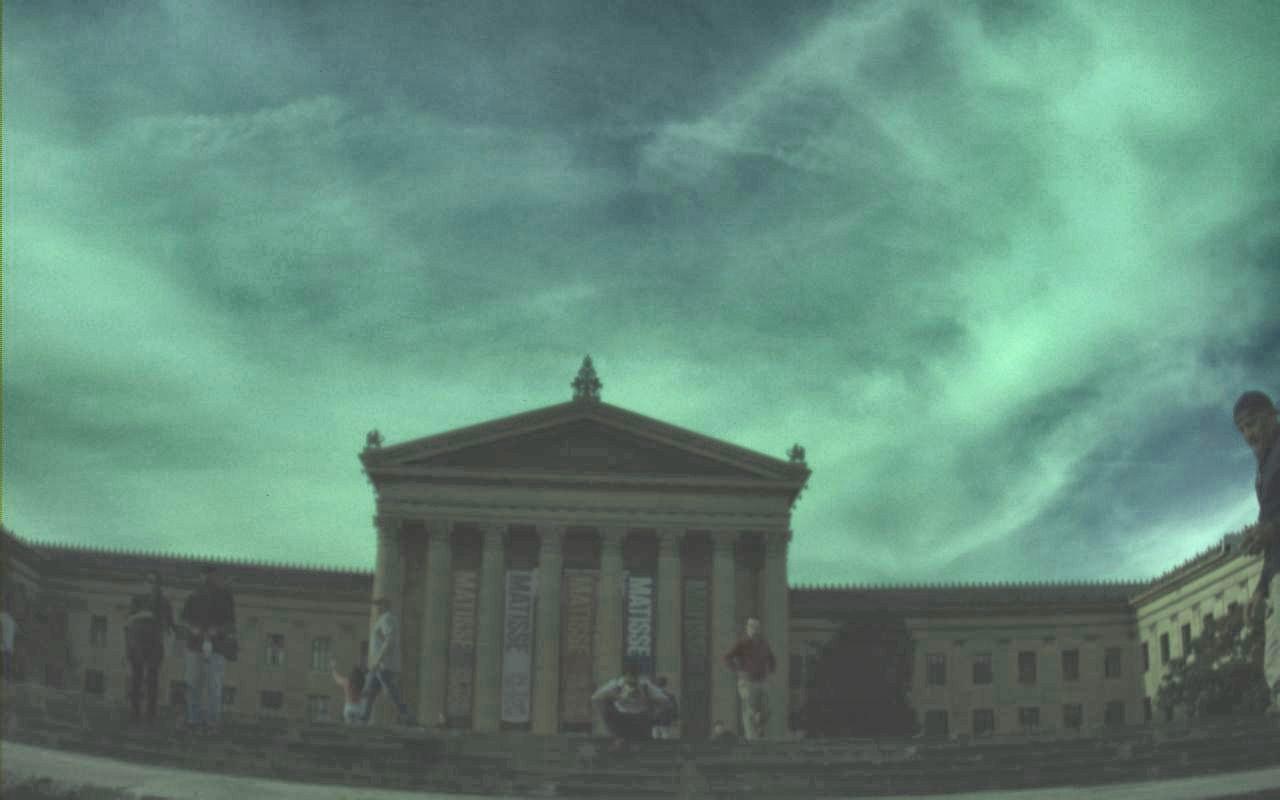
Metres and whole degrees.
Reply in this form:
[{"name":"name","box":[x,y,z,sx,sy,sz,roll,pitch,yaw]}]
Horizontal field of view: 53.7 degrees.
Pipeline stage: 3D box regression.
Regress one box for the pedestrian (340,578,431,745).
[{"name":"pedestrian","box":[-3.074,3.164,14.672,0.817,1.877,0.796,0,0,11]}]

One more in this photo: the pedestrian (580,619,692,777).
[{"name":"pedestrian","box":[-0.053,2.947,12.188,0.843,1.377,0.749,0,0,-29]}]

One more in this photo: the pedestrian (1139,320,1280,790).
[{"name":"pedestrian","box":[2.444,0.601,4.446,0.809,1.765,0.789,1,0,26]}]

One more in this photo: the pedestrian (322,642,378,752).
[{"name":"pedestrian","box":[-4.962,5.107,20.487,0.756,1.773,0.746,0,0,0]}]

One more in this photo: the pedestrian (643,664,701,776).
[{"name":"pedestrian","box":[0.549,5.540,21.125,0.757,1.768,0.780,1,0,23]}]

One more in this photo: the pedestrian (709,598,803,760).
[{"name":"pedestrian","box":[1.407,3.420,15.069,0.803,1.818,0.813,0,0,-27]}]

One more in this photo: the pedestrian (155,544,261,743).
[{"name":"pedestrian","box":[-4.290,2.428,11.620,0.771,1.844,0.763,0,0,2]}]

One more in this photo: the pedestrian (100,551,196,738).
[{"name":"pedestrian","box":[-4.988,2.491,11.625,0.755,1.782,0.759,0,0,-9]}]

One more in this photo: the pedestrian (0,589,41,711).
[{"name":"pedestrian","box":[-9.958,3.986,17.047,0.807,1.770,0.788,0,0,-10]}]
